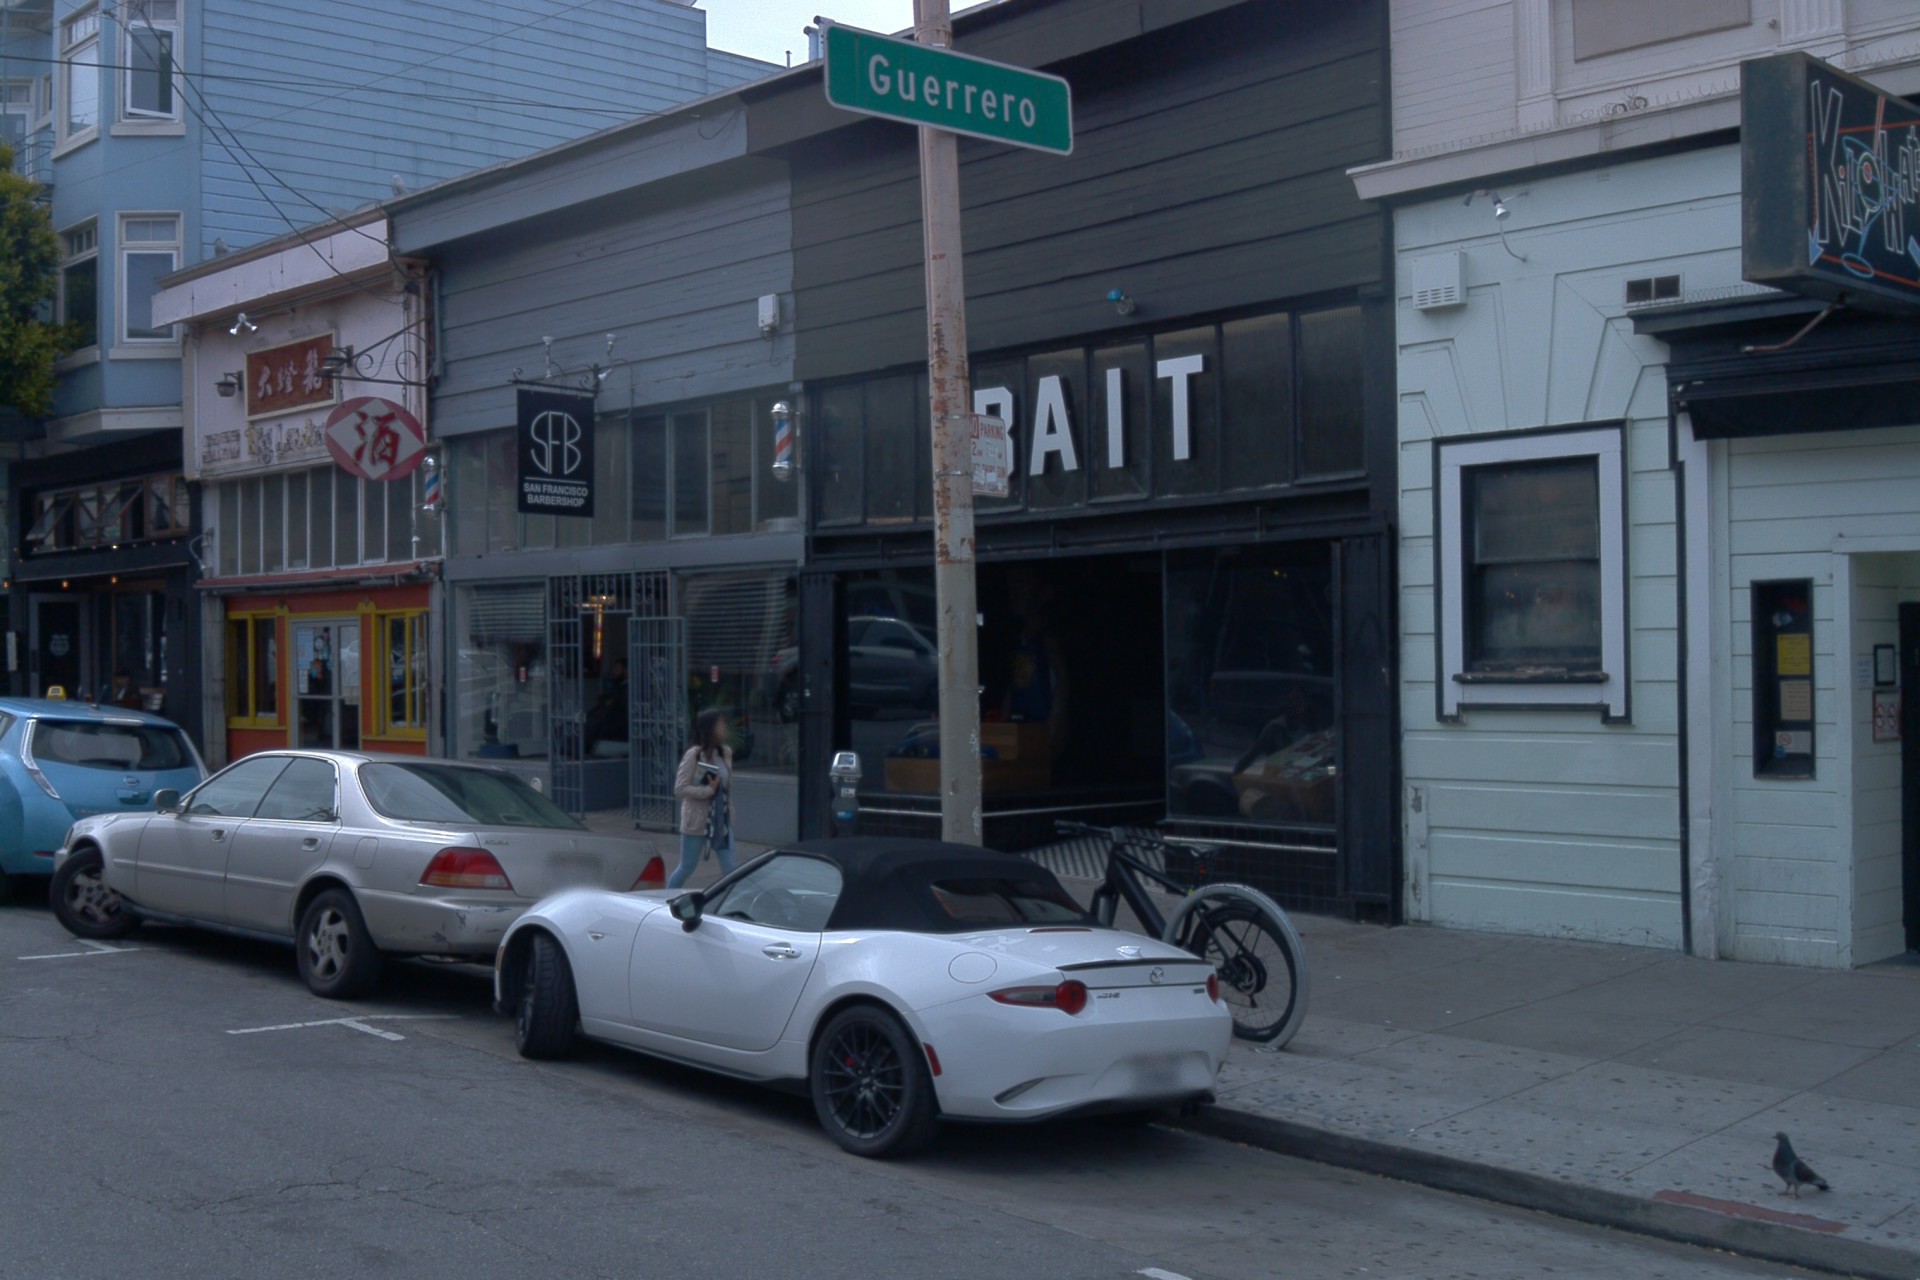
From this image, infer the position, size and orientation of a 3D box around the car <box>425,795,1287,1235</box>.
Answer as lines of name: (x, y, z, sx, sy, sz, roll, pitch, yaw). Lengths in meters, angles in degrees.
car: (-0.647, 1.565, 9.857, 1.958, 1.300, 3.973, -1, 1, -45)

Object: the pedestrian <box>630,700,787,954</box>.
pedestrian: (-1.760, 1.275, 14.443, 0.827, 1.670, 0.716, 1, 1, 40)
